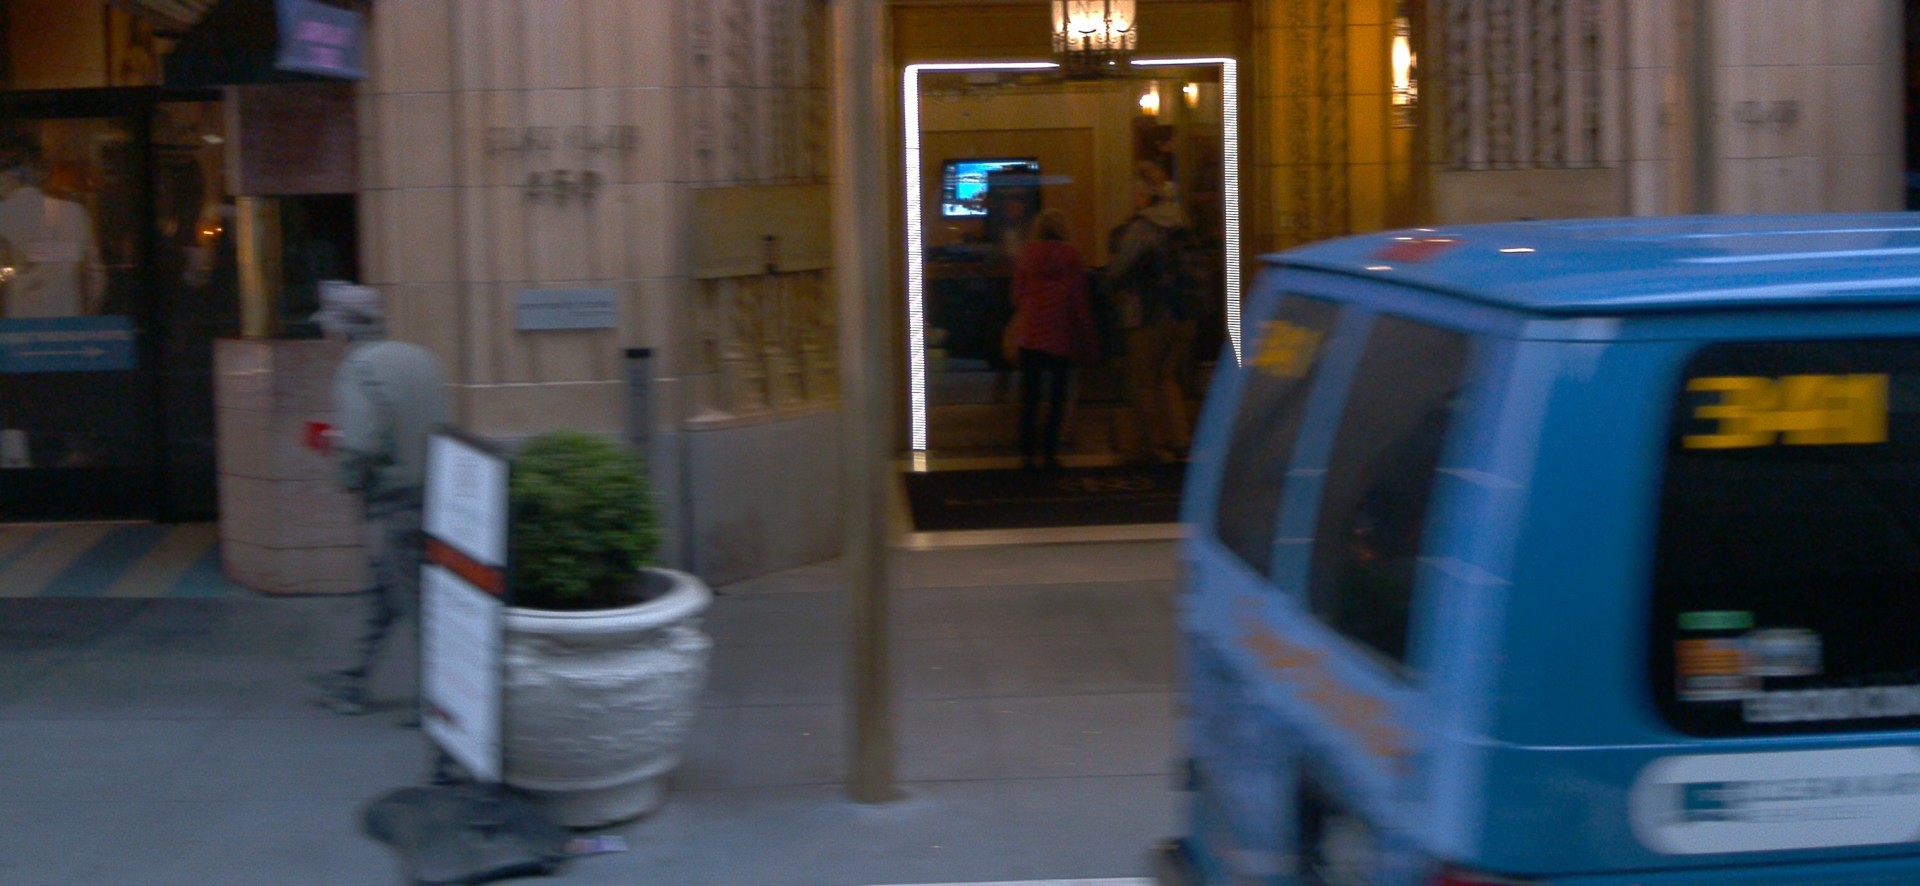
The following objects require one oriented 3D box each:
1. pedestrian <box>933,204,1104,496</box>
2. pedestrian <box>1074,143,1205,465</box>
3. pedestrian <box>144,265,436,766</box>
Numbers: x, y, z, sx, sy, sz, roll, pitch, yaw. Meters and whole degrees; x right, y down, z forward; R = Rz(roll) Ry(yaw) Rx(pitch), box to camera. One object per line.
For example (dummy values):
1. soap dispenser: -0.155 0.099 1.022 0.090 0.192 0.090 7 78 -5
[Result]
1. pedestrian: 0.324 -0.571 11.863 0.823 1.606 0.880 -1 3 -11
2. pedestrian: 1.021 -0.813 11.812 0.700 1.786 0.722 0 2 1
3. pedestrian: -2.277 0.205 7.080 0.766 1.607 0.721 0 2 -2
